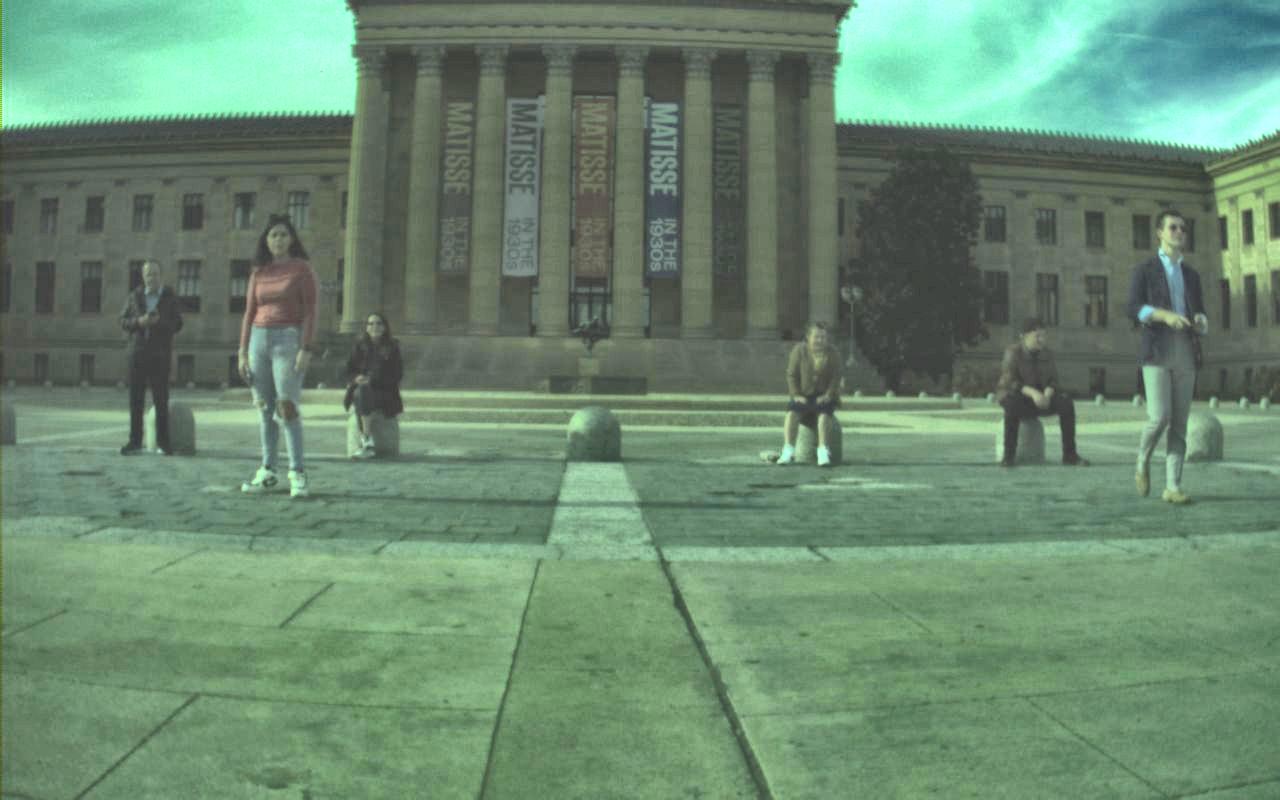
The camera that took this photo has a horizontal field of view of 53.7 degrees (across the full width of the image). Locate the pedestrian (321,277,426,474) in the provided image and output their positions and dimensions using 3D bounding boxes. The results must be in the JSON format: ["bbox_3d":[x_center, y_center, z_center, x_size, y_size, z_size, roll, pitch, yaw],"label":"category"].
[{"bbox_3d":[-2.259,-0.210,10.533,0.805,1.606,0.836,0,0,-5],"label":"pedestrian"}]

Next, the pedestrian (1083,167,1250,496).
[{"bbox_3d":[3.138,-0.380,6.969,0.791,1.837,0.817,0,0,-2],"label":"pedestrian"}]

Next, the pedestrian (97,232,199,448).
[{"bbox_3d":[-4.181,-0.486,9.985,0.783,1.771,0.800,0,0,-13],"label":"pedestrian"}]

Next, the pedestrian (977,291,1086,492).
[{"bbox_3d":[3.411,-0.069,10.634,0.843,1.683,0.862,0,0,8],"label":"pedestrian"}]

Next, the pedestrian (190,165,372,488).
[{"bbox_3d":[-2.056,-0.401,6.942,0.760,1.726,0.770,0,0,16],"label":"pedestrian"}]

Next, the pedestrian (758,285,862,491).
[{"bbox_3d":[1.454,-0.106,10.608,0.817,1.664,0.842,0,0,11],"label":"pedestrian"}]
